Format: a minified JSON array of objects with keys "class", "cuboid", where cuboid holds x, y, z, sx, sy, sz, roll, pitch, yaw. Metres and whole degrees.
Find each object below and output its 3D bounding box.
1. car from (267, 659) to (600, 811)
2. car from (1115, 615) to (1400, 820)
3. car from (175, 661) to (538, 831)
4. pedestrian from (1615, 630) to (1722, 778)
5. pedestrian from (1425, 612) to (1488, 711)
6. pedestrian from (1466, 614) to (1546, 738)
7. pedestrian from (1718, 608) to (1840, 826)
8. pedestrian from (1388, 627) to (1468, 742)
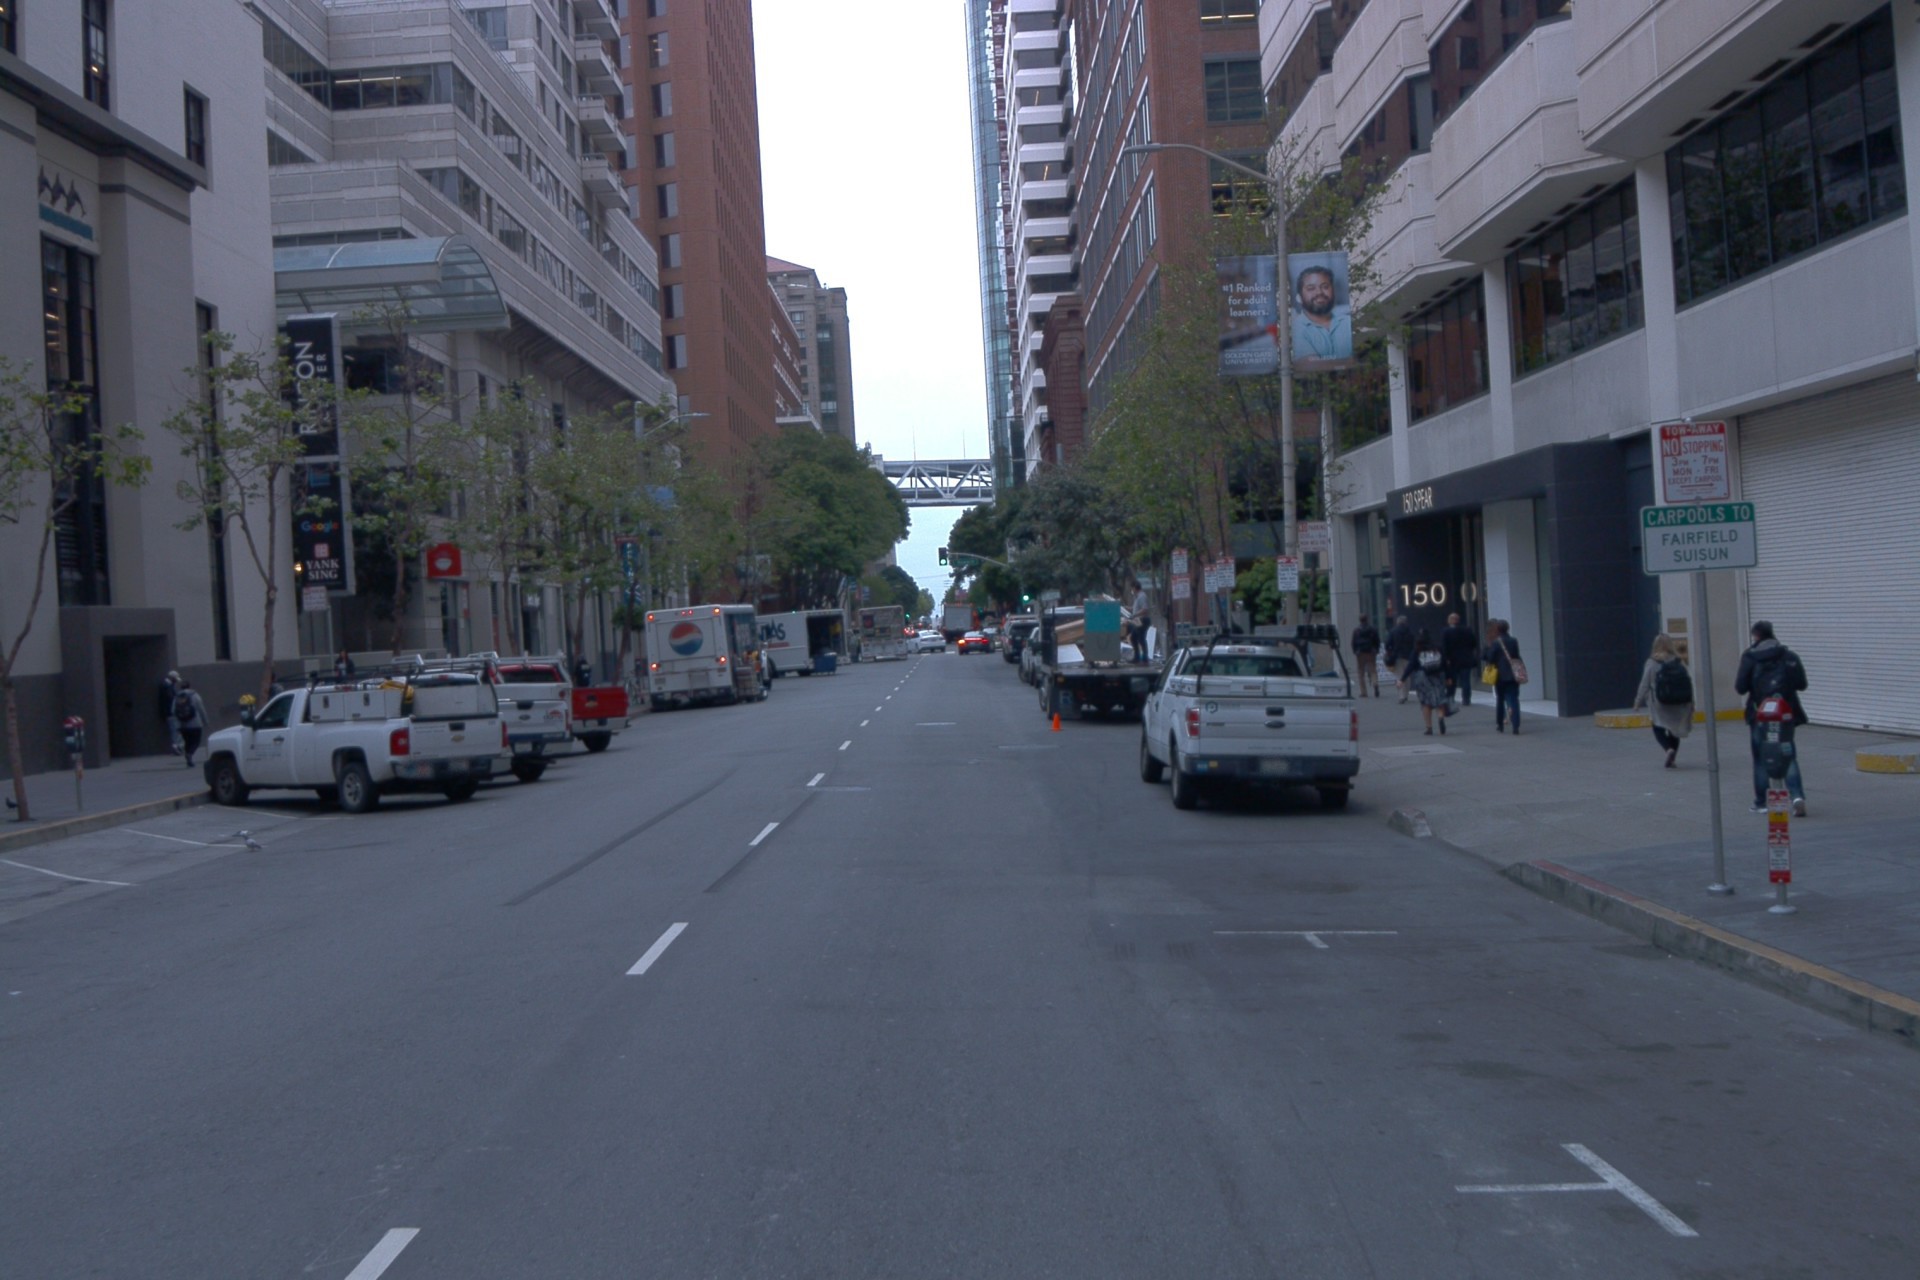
[{"class":"car","cuboid":[-8.835,1.469,34.148,5.997,2.200,2.498,0,1,43]},{"class":"car","cuboid":[3.442,0.796,25.210,2.514,2.200,6.098,0,1,-1]},{"class":"car","cuboid":[-9.095,1.471,30.732,5.658,2.200,2.447,0,1,40]},{"class":"pedestrian","cuboid":[7.875,0.698,22.879,0.888,1.600,0.979,0,1,3]},{"class":"pedestrian","cuboid":[9.002,0.376,37.304,0.899,1.760,1.110,0,1,2]},{"class":"pedestrian","cuboid":[7.945,0.515,29.945,0.945,1.770,0.913,0,1,3]},{"class":"pedestrian","cuboid":[7.065,0.640,17.774,0.741,1.830,0.961,0,1,6]},{"class":"pedestrian","cuboid":[7.006,0.655,30.836,1.000,1.680,1.000,0,1,2]}]
